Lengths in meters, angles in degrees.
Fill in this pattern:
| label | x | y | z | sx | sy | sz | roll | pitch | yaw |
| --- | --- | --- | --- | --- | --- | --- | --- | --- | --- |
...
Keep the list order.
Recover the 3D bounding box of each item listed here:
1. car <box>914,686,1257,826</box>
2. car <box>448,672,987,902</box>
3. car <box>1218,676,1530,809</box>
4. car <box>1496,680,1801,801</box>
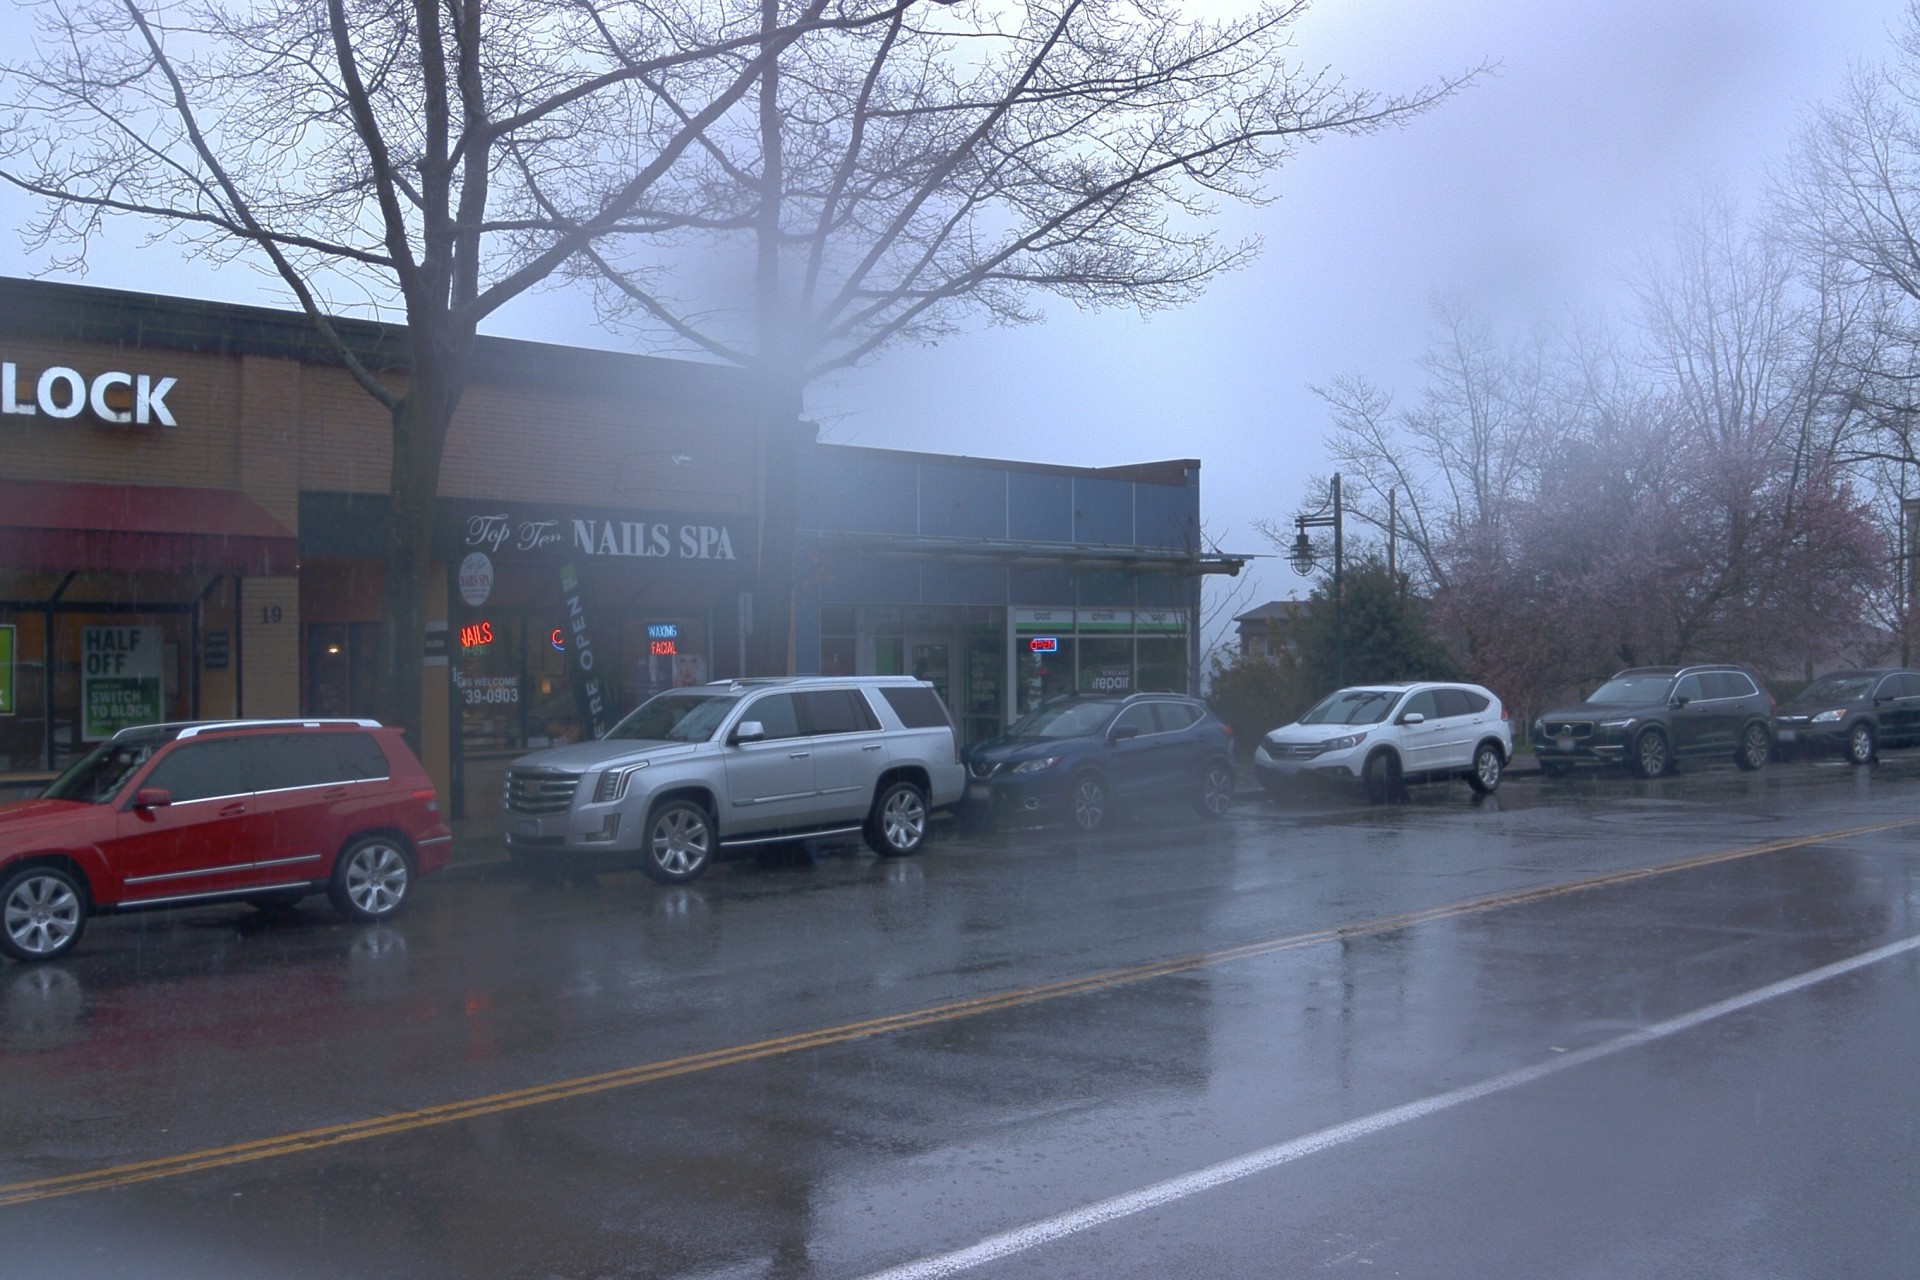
| label | x | y | z | sx | sy | sz | roll | pitch | yaw |
| --- | --- | --- | --- | --- | --- | --- | --- | --- | --- |
| car | 1.623 | 1.344 | 25.280 | 1.999 | 1.400 | 4.335 | 1 | 1 | 40 |
| car | -2.322 | 1.345 | 21.042 | 2.331 | 1.890 | 5.194 | 1 | 1 | 42 |
| car | 5.992 | 1.392 | 29.592 | 4.481 | 1.610 | 2.181 | -1 | 1 | -43 |
| car | 11.412 | 1.589 | 34.053 | 5.296 | 1.690 | 2.144 | -1 | 1 | -37 |
